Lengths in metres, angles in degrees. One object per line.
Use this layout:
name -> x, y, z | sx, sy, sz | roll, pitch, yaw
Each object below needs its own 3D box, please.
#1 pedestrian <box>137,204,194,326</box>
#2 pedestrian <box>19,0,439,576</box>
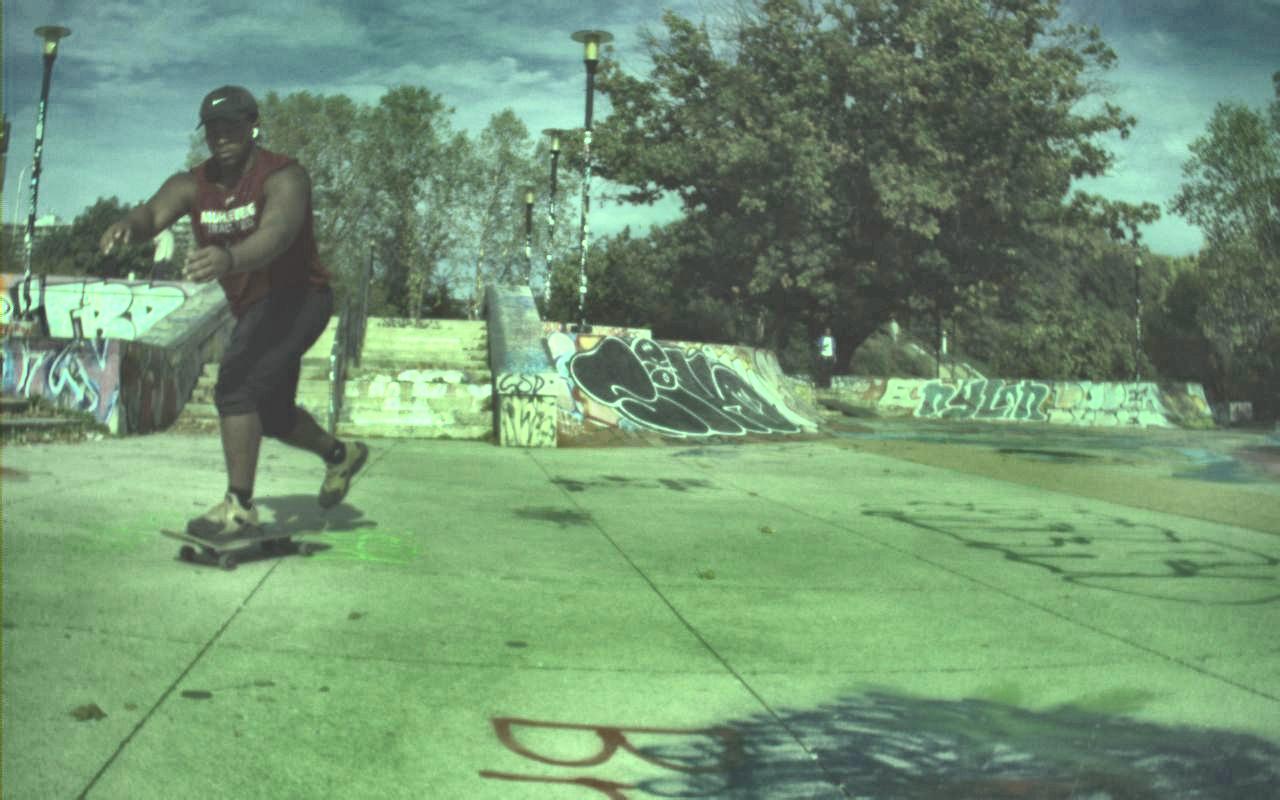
pedestrian -> -7.687, -2.132, 19.061 | 0.651, 1.908, 0.679 | 0, 0, 12
pedestrian -> -1.242, -0.353, 3.663 | 0.858, 1.567, 1.129 | 1, 0, 14
